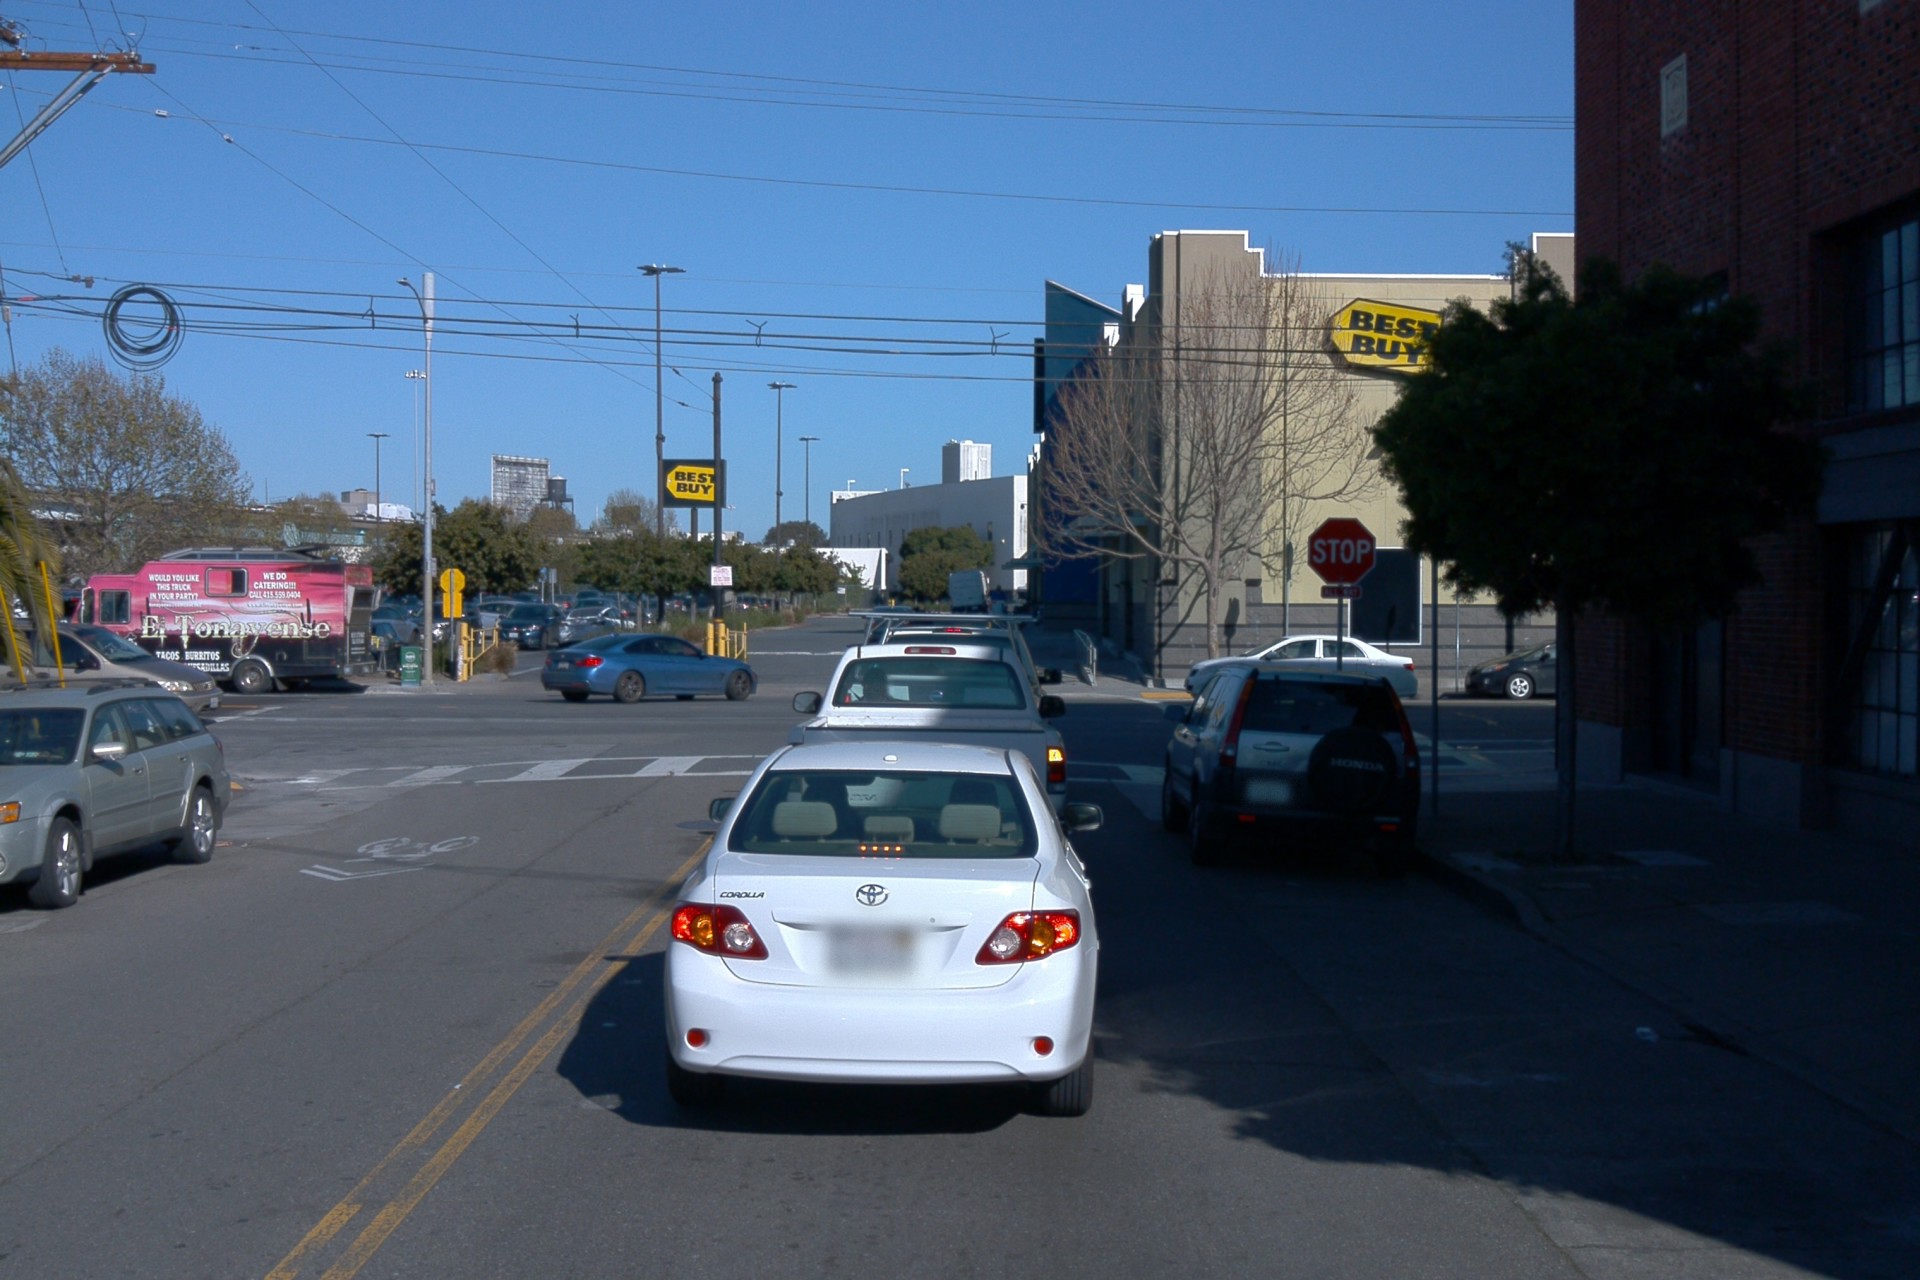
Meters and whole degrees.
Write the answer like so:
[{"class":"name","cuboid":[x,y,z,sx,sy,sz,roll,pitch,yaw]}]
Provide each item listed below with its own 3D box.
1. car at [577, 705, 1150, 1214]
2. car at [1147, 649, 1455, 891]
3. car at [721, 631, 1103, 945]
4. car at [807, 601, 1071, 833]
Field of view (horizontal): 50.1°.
[{"class":"car","cuboid":[-0.310,1.225,9.683,2.045,1.580,4.504,1,1,1]},{"class":"car","cuboid":[2.808,1.004,17.921,2.017,1.730,4.285,1,1,1]},{"class":"car","cuboid":[-0.297,0.926,15.782,2.386,1.880,5.557,1,1,0]},{"class":"car","cuboid":[-0.054,0.680,22.171,2.386,2.140,5.556,1,1,4]}]
